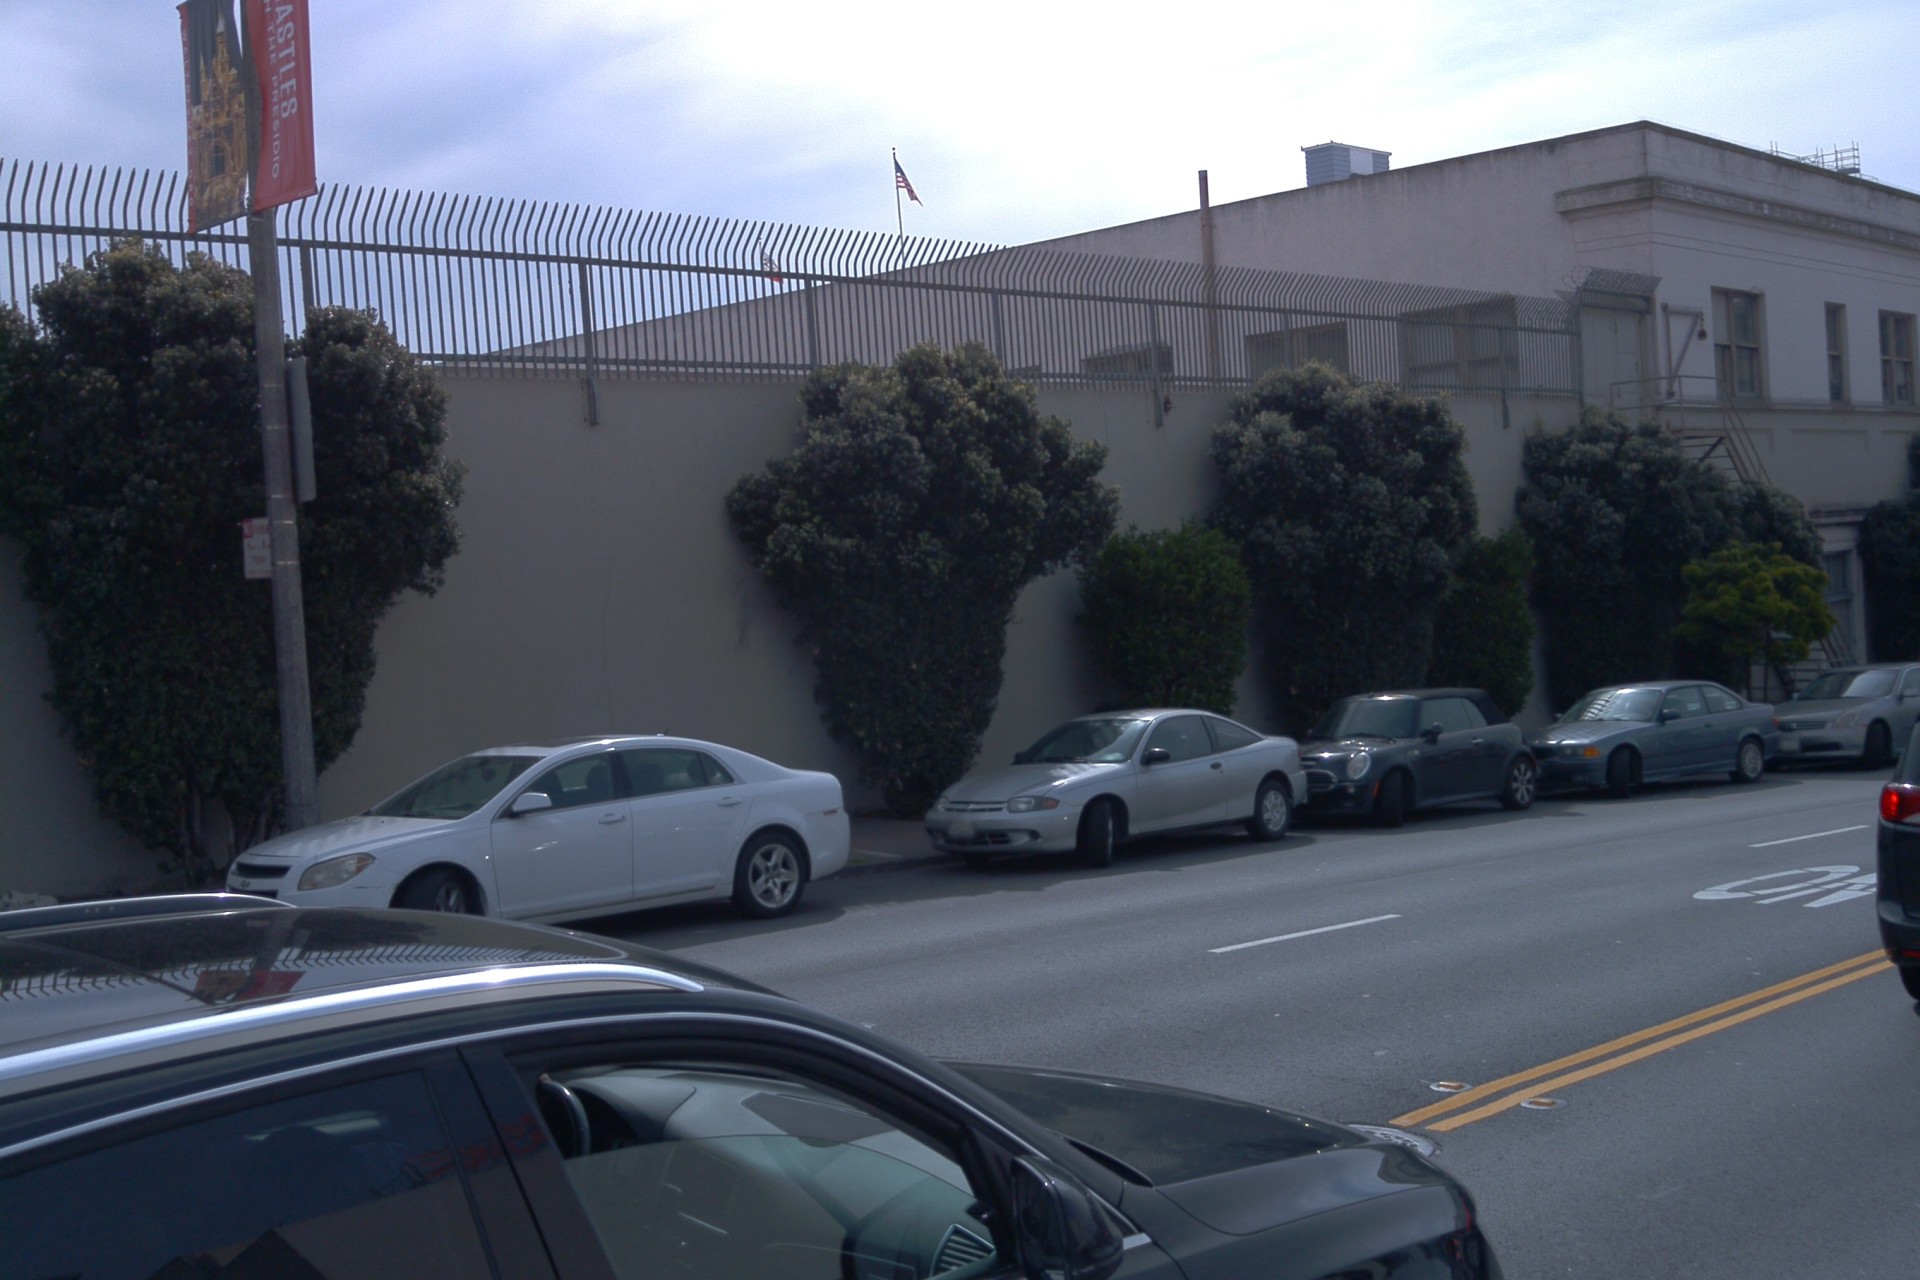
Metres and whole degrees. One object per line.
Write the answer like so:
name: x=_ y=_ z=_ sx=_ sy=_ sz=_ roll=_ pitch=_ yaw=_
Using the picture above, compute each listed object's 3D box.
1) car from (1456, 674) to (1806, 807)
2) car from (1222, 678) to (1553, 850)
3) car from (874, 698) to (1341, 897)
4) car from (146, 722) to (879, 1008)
car: x=8.494 y=1.197 z=25.889 sx=4.448 sy=1.390 sz=2.035 roll=-1 pitch=1 yaw=-38
car: x=4.756 y=1.282 z=22.618 sx=1.796 sy=1.600 sz=3.729 roll=1 pitch=1 yaw=45
car: x=1.531 y=1.395 z=19.753 sx=1.978 sy=1.480 sz=4.651 roll=1 pitch=1 yaw=43
car: x=-3.092 y=1.472 z=14.991 sx=4.878 sy=1.490 sz=2.032 roll=-1 pitch=1 yaw=-44
